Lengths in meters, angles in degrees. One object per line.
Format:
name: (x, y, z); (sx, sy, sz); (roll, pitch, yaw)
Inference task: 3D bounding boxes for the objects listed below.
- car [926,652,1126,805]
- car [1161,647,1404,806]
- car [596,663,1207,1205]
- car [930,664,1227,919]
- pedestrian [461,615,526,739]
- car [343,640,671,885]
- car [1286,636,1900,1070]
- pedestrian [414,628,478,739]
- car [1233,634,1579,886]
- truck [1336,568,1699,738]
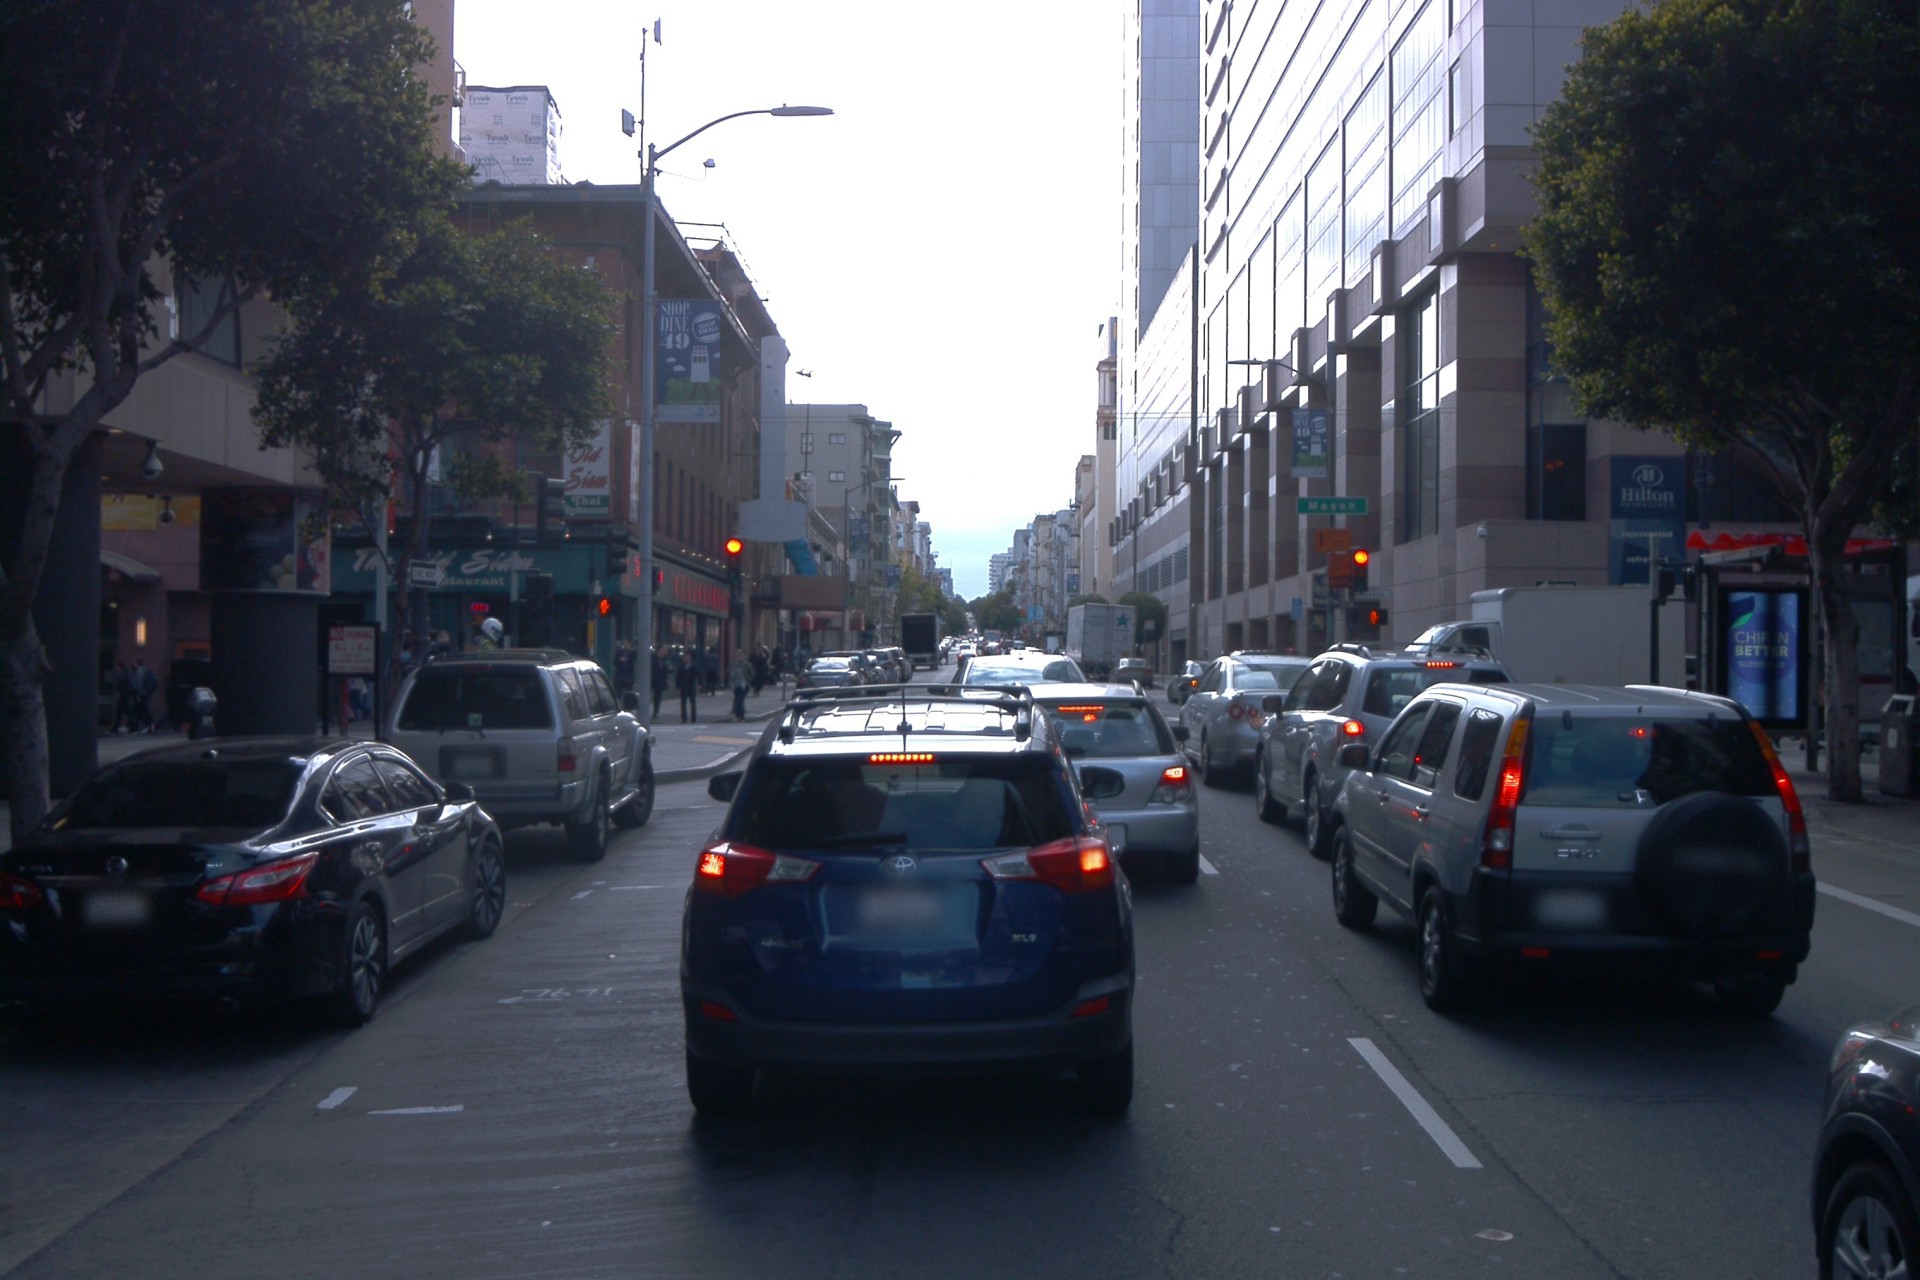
car: (0.646, 0.932, 23.684); (2.074, 1.500, 4.589); (0, 1, -1)
car: (3.617, 0.915, 23.945); (2.063, 1.590, 4.797); (0, 1, 0)
car: (-0.222, 1.082, 9.642); (2.184, 1.830, 4.555); (0, 1, 0)
car: (0.883, 1.066, 16.440); (2.030, 1.630, 4.707); (0, 1, 2)
pedestrian: (-7.167, 0.557, 31.601); (0.708, 1.880, 0.658); (0, 1, 29)
car: (-3.930, 0.977, 18.682); (1.995, 1.880, 4.690); (0, 1, -1)
car: (3.229, 0.960, 11.592); (1.983, 1.910, 4.572); (0, 1, -1)
pedestrian: (-7.778, 0.642, 31.143); (0.778, 1.650, 0.864); (0, 1, -2)
car: (3.712, 0.913, 18.019); (2.029, 1.870, 4.664); (0, 1, 0)
truck: (9.773, 0.205, 36.394); (5.802, 2.890, 2.236); (0, 1, 0)
